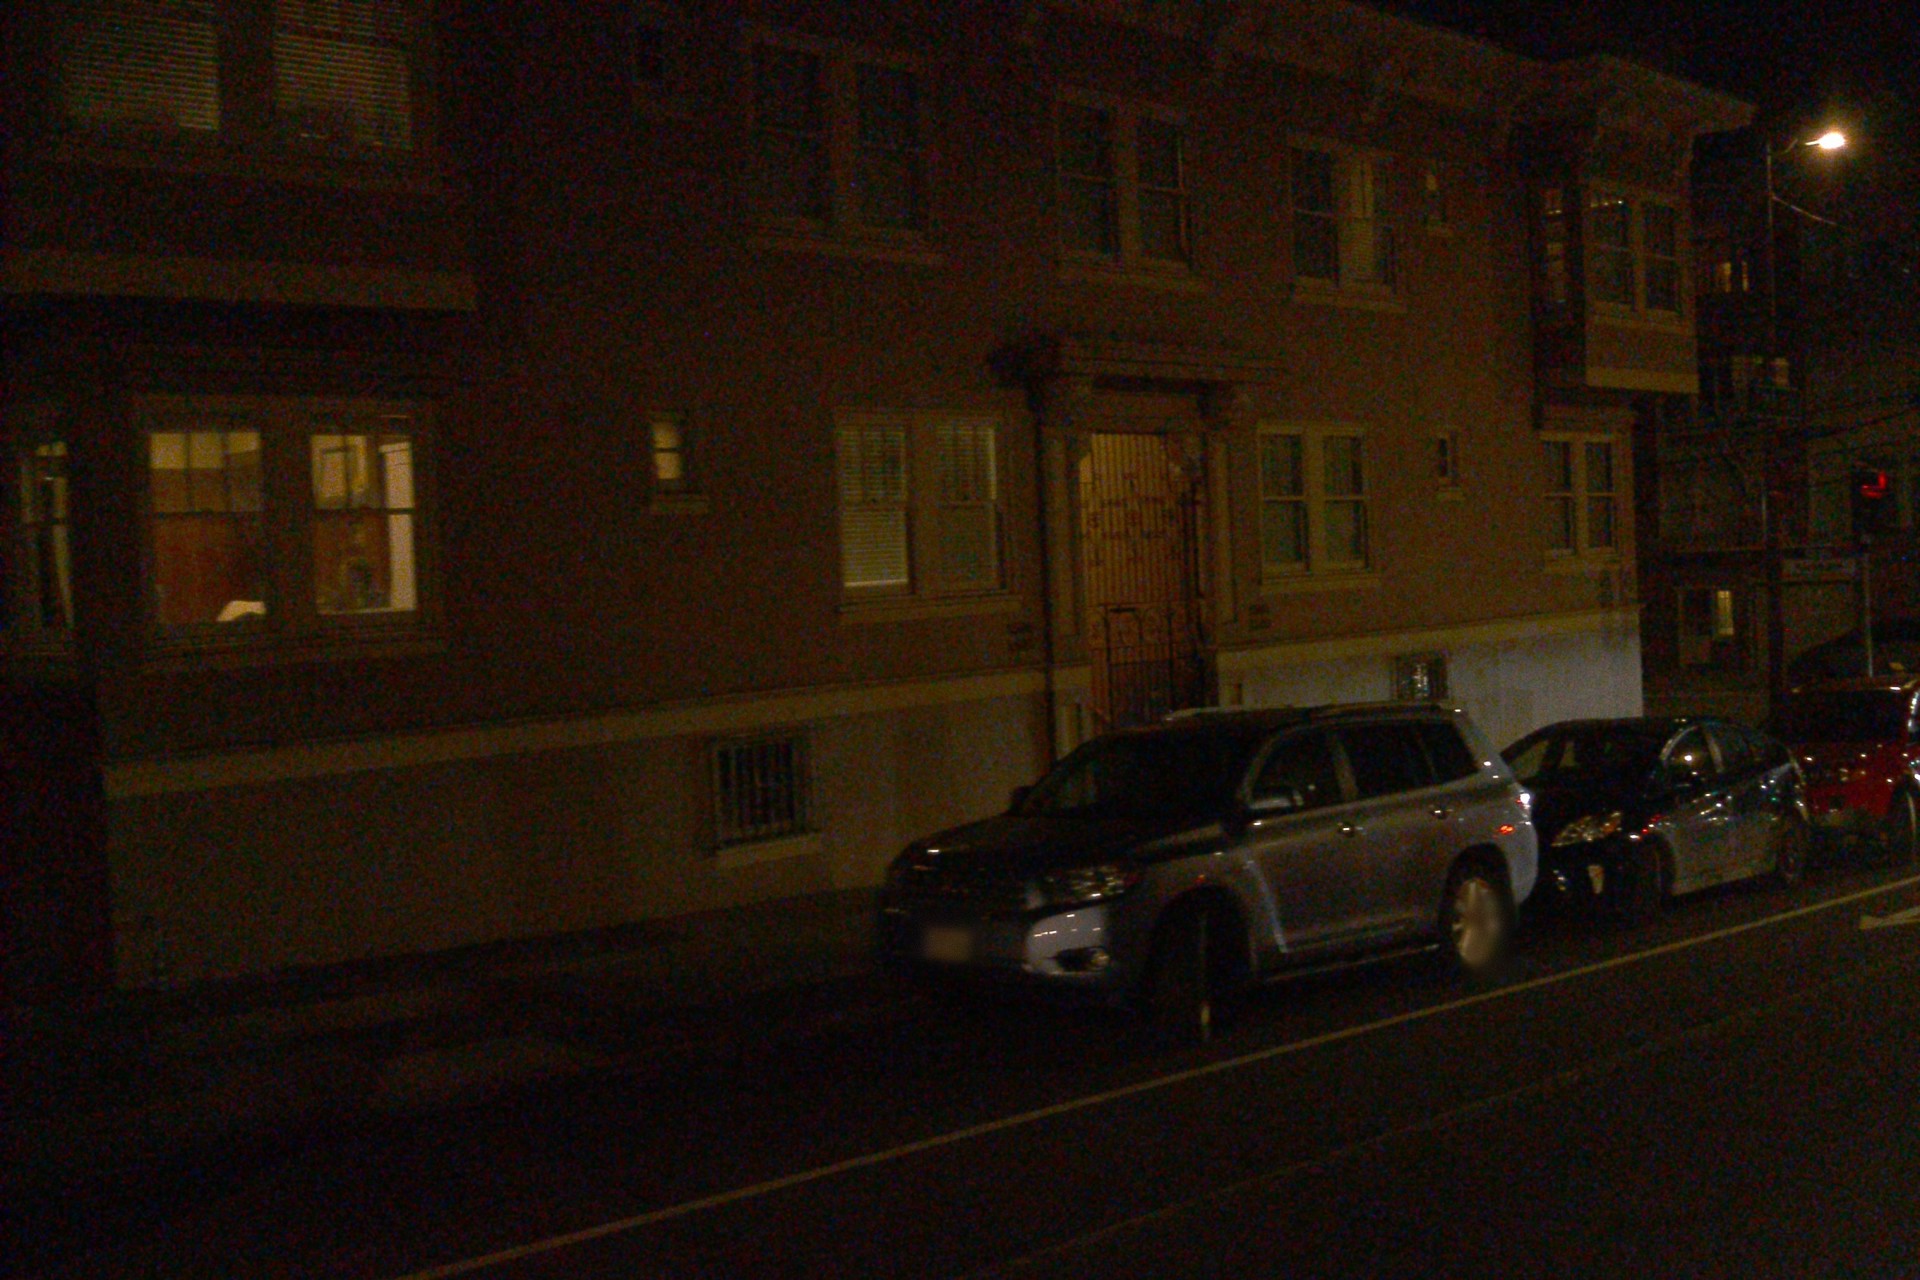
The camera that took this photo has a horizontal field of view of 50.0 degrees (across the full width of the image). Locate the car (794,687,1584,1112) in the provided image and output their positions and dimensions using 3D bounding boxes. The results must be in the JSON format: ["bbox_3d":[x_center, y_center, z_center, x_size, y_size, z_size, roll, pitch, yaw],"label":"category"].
[{"bbox_3d":[1.549,1.301,12.334,2.199,1.850,4.800,1,1,45],"label":"car"}]

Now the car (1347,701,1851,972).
[{"bbox_3d":[5.205,1.409,16.370,2.056,1.640,4.514,1,1,43],"label":"car"}]
